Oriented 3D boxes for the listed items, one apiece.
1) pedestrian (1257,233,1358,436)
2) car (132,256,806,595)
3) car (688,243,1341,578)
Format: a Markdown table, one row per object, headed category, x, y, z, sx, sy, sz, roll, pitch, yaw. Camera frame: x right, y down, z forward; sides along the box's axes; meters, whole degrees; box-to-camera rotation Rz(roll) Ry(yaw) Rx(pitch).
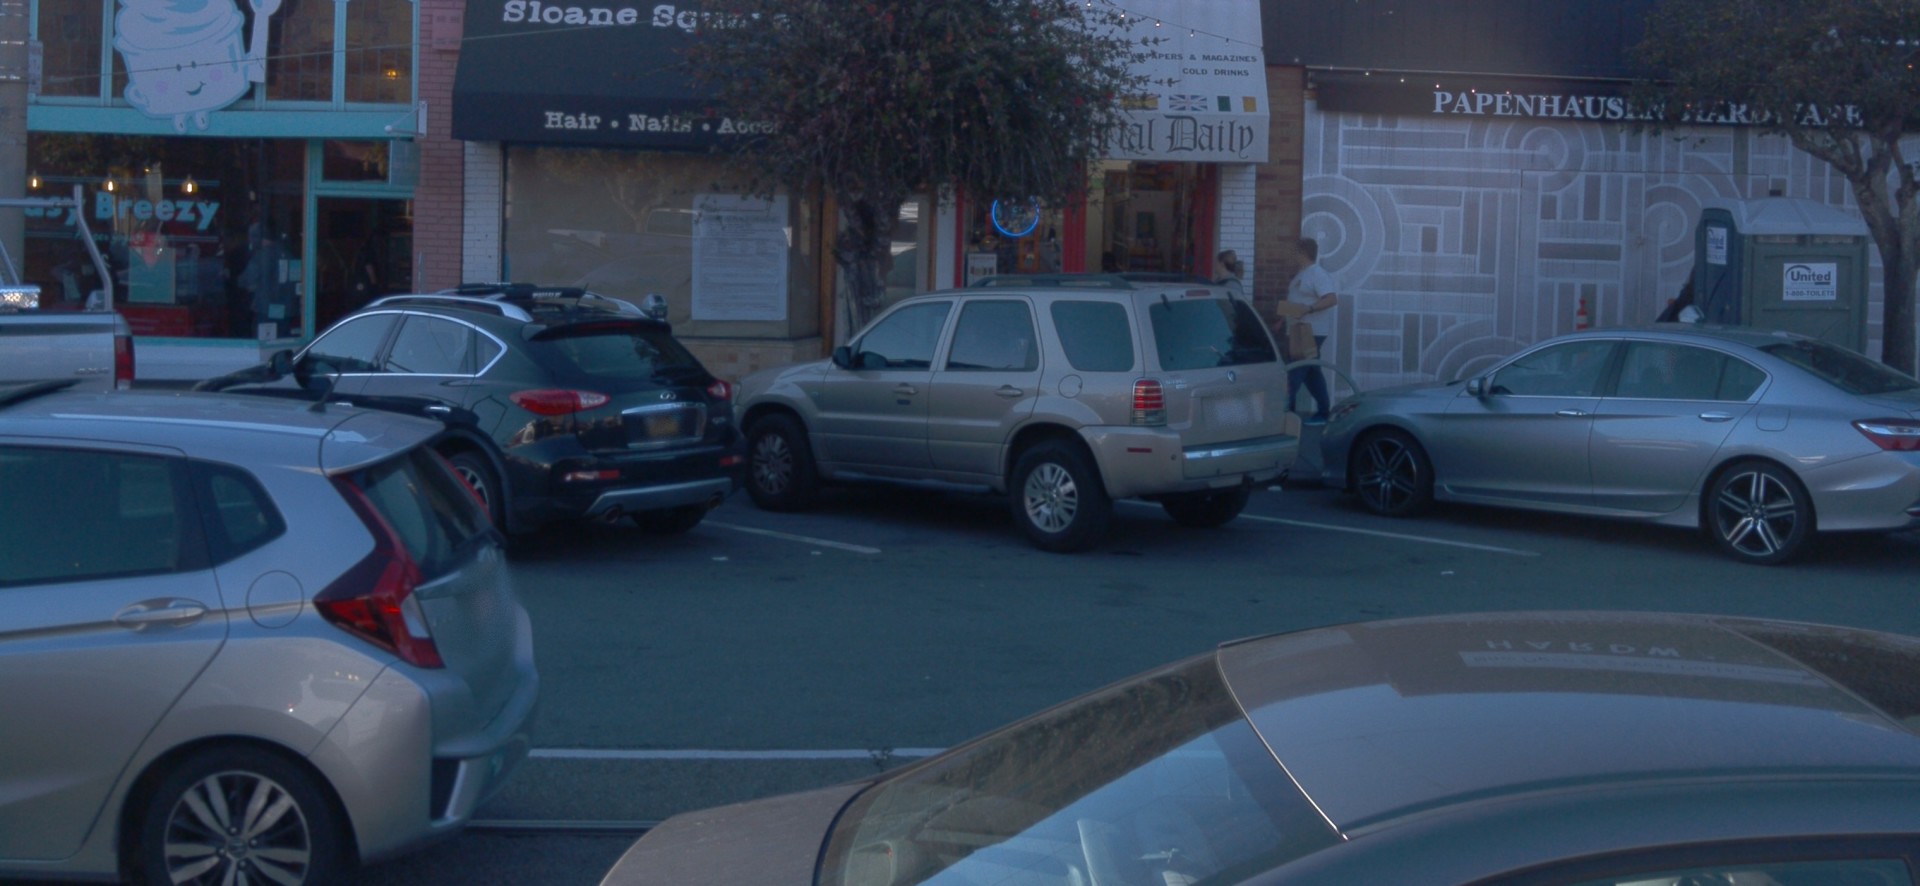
| category | x | y | z | sx | sy | sz | roll | pitch | yaw |
| --- | --- | --- | --- | --- | --- | --- | --- | --- | --- |
| pedestrian | 3.206 | -1.027 | 19.215 | 0.731 | 1.816 | 0.922 | 1 | 2 | -2 |
| car | -3.426 | -0.301 | 14.051 | 4.523 | 1.793 | 2.116 | 6 | 6 | 39 |
| car | 0.277 | -0.404 | 14.593 | 4.242 | 1.893 | 2.078 | 6 | 6 | 42 |
